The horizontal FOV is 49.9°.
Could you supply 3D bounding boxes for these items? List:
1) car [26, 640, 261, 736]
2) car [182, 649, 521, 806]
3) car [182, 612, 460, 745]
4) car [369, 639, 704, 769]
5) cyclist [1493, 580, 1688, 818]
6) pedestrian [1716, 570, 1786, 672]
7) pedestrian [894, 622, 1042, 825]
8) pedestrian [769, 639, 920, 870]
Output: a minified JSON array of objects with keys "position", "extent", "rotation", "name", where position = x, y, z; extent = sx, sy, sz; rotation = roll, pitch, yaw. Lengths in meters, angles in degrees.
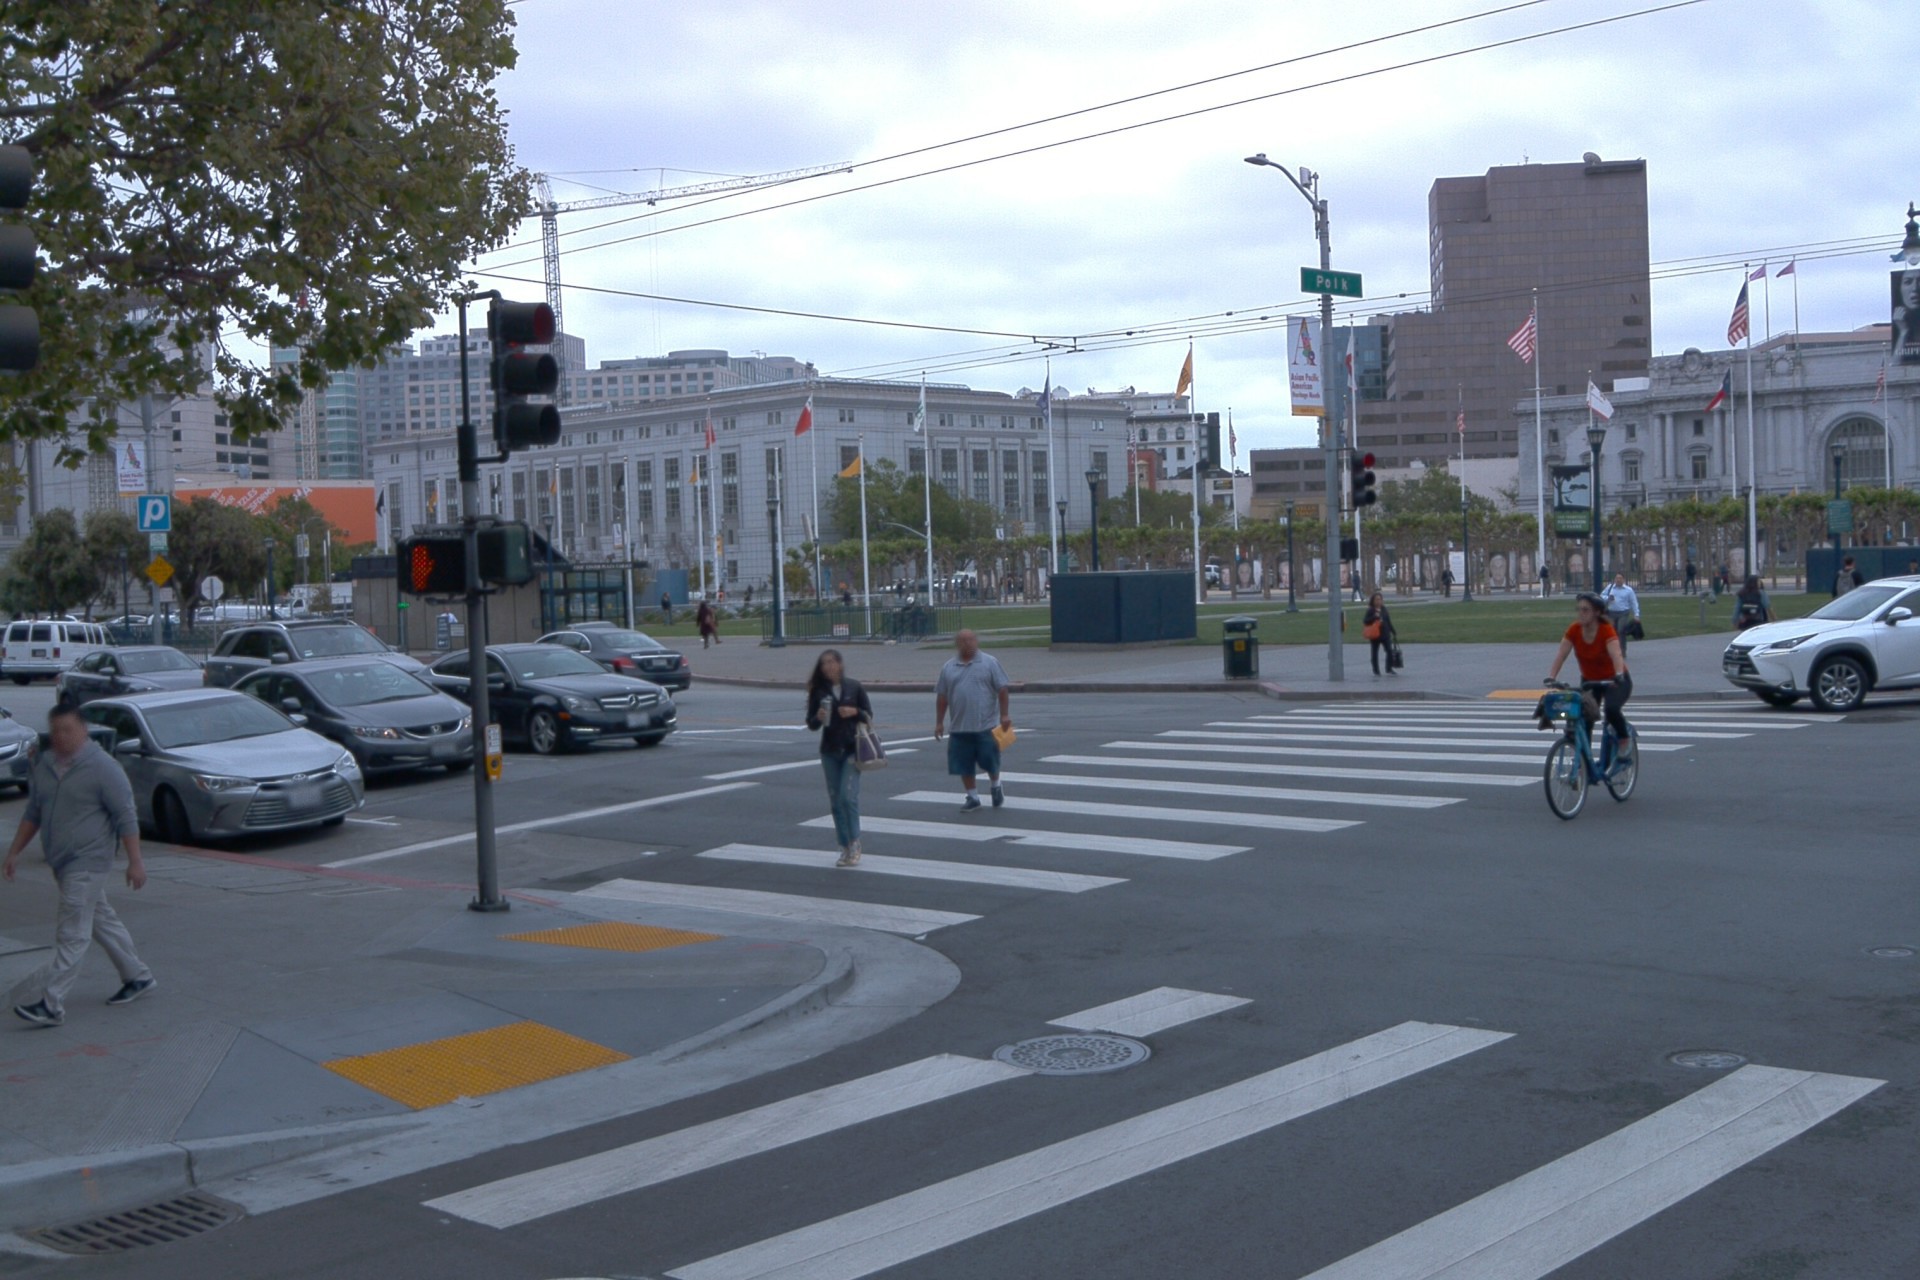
[{"position":[-14.396,0.795,36.275],"extent":[4.684,1.490,2.106],"rotation":[1,1,44],"name":"car"},{"position":[-7.466,0.972,25.091],"extent":[2.084,1.630,4.523],"rotation":[-1,1,-44],"name":"car"},{"position":[-10.017,0.531,32.194],"extent":[4.650,1.900,2.138],"rotation":[1,1,44],"name":"car"},{"position":[-5.638,0.770,27.173],"extent":[4.497,1.490,2.027],"rotation":[1,1,42],"name":"car"},{"position":[5.213,0.441,17.000],"extent":[0.825,1.850,1.935],"rotation":[1,1,40],"name":"cyclist"},{"position":[13.580,-0.331,35.429],"extent":[0.970,1.734,0.789],"rotation":[-1,1,-44],"name":"pedestrian"},{"position":[0.084,0.727,18.753],"extent":[0.994,1.764,1.162],"rotation":[0,1,21],"name":"pedestrian"},{"position":[-0.890,0.865,16.153],"extent":[0.910,1.724,0.993],"rotation":[0,1,14],"name":"pedestrian"}]
